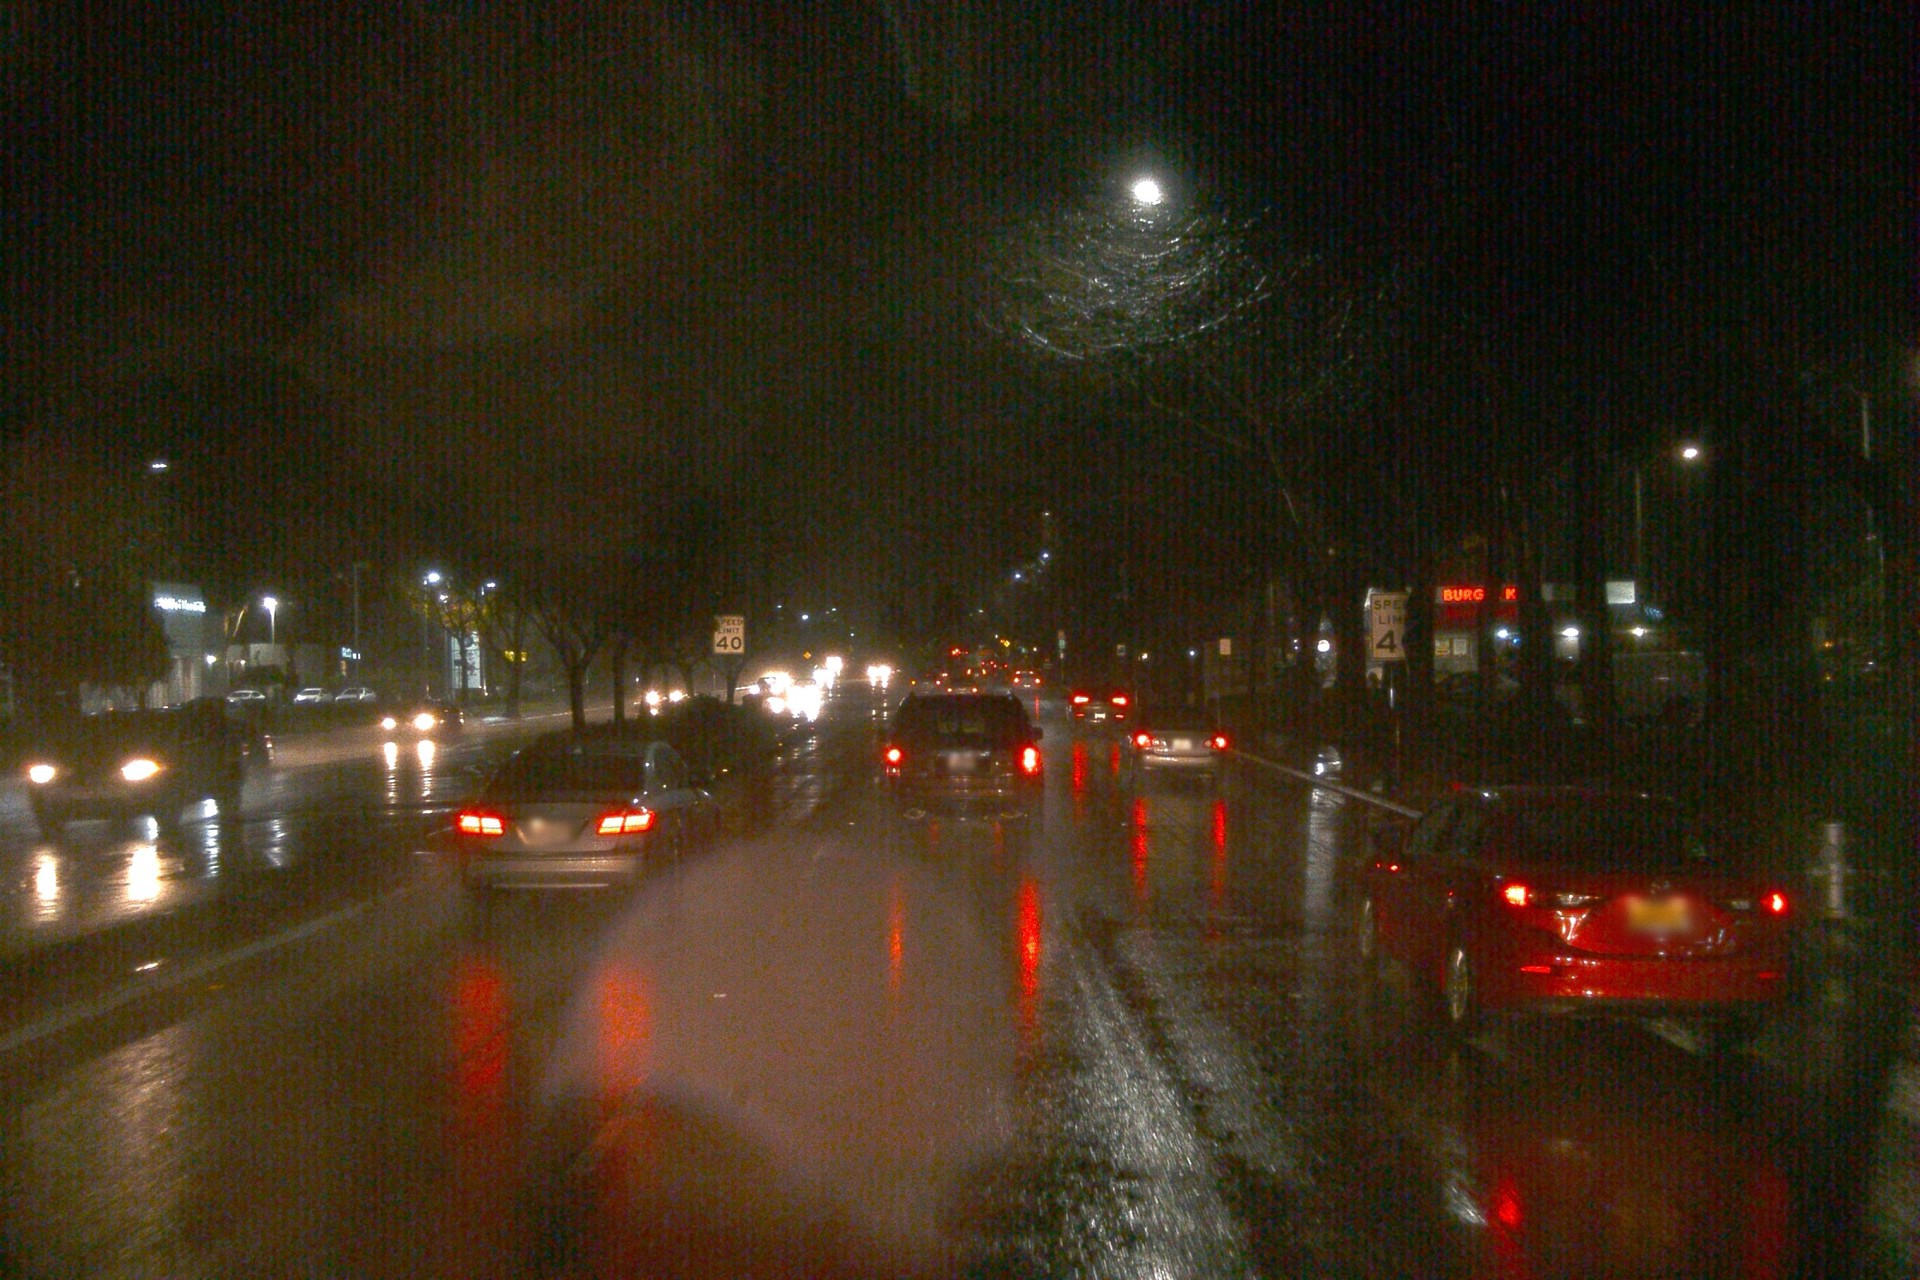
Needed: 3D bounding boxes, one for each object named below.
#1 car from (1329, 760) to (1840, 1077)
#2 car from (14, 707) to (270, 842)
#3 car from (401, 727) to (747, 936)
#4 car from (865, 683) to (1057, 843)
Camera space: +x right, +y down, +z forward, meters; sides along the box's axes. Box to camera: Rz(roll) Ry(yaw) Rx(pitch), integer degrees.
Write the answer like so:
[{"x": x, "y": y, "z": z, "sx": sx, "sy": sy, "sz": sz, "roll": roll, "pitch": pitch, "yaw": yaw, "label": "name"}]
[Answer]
[{"x": 3.688, "y": 1.599, "z": 13.179, "sx": 1.963, "sy": 1.470, "sz": 4.264, "roll": 0, "pitch": -1, "yaw": 0, "label": "car"}, {"x": -12.189, "y": 1.953, "z": 31.417, "sx": 2.140, "sy": 1.770, "sz": 4.755, "roll": 0, "pitch": -1, "yaw": -2, "label": "car"}, {"x": -3.385, "y": 1.658, "z": 19.369, "sx": 2.307, "sy": 1.544, "sz": 4.878, "roll": 0, "pitch": -1, "yaw": 0, "label": "car"}, {"x": 0.014, "y": 1.472, "z": 26.303, "sx": 2.222, "sy": 1.800, "sz": 4.381, "roll": 0, "pitch": -1, "yaw": 0, "label": "car"}]
